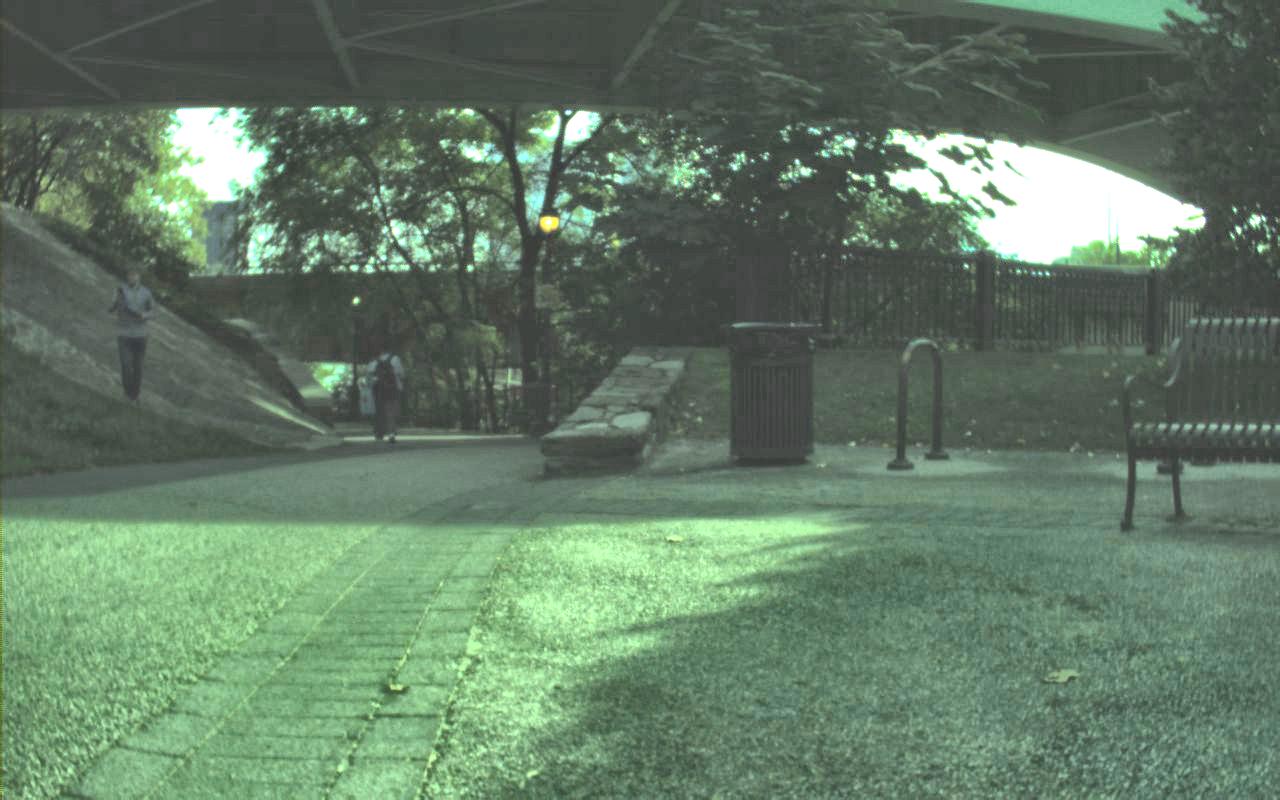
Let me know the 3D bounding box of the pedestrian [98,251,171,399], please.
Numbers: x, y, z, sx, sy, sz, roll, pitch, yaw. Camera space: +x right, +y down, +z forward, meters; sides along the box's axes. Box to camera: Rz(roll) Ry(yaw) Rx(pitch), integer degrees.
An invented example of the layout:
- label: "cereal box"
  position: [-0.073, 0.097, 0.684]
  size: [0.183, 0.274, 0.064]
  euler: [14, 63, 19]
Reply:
- label: "pedestrian"
  position: [-6.485, -0.916, 14.942]
  size: [0.779, 1.837, 0.752]
  euler: [0, 0, -41]

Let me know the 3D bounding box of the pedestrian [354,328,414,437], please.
- label: "pedestrian"
  position: [-4.090, -0.264, 19.727]
  size: [0.849, 1.691, 0.878]
  euler: [0, 0, -20]
